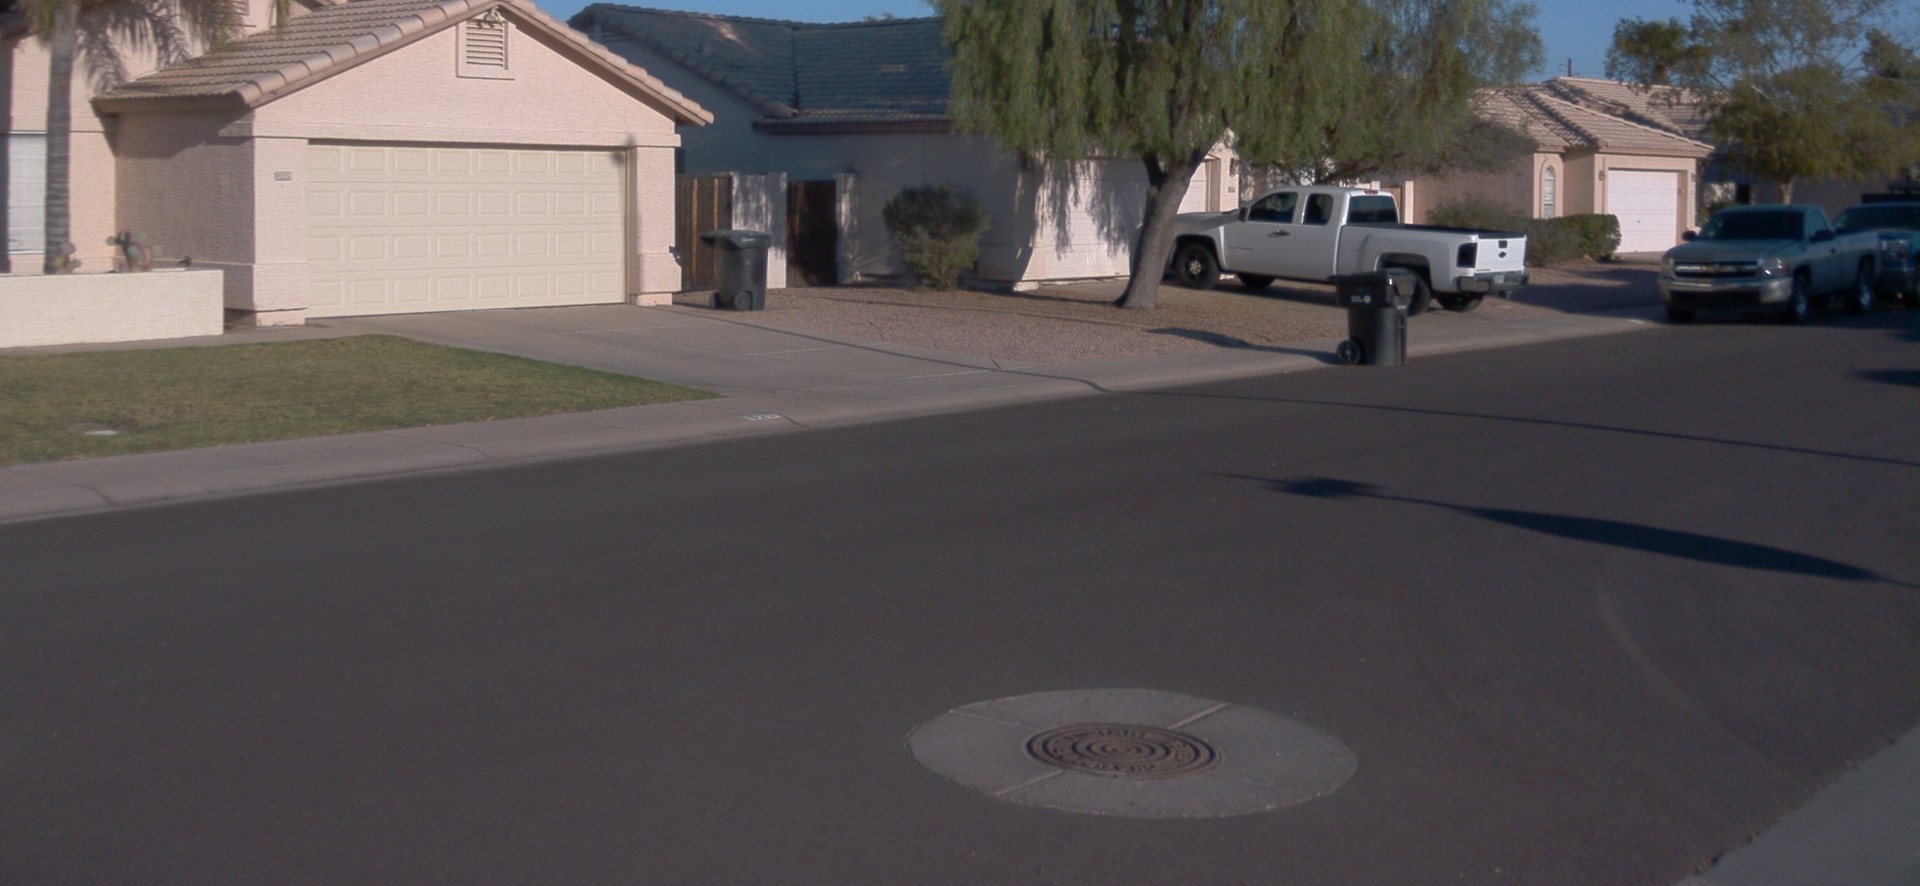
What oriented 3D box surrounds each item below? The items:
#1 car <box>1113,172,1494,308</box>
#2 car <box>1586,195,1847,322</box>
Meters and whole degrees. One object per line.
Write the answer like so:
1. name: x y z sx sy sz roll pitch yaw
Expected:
1. car: 5.445 -3.243 33.476 5.746 2.016 2.121 3 5 39
2. car: 12.548 -3.057 34.197 2.282 1.915 5.422 2 5 40
